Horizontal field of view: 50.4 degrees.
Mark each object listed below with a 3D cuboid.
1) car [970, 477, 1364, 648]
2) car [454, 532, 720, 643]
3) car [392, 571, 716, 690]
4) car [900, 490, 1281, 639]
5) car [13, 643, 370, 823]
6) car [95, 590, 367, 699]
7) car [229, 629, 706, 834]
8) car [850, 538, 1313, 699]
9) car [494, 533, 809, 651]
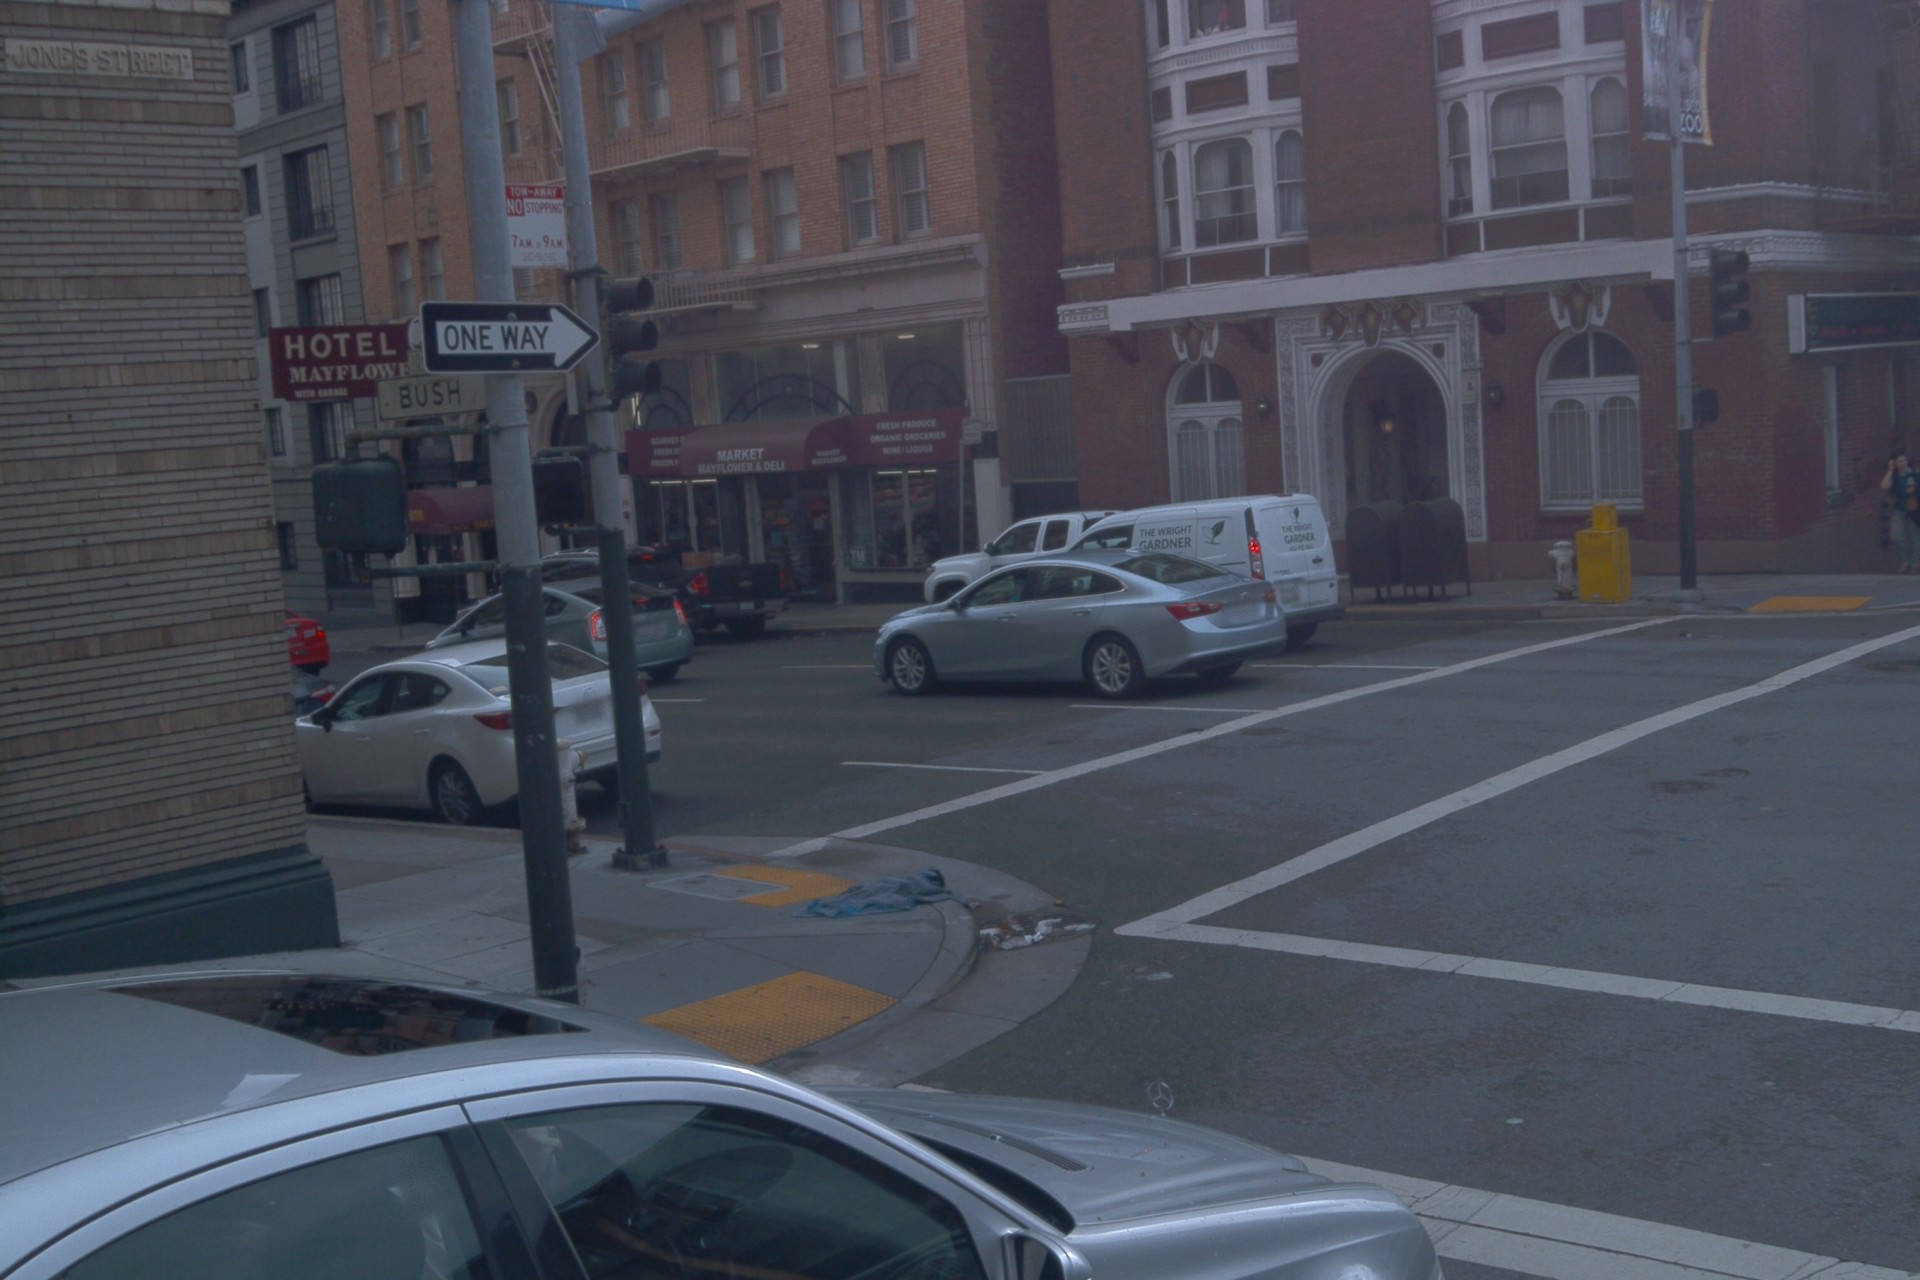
[{"bbox_3d":[2.414,-0.909,24.652,4.461,1.870,1.947,2,1,44],"label":"car"},{"bbox_3d":[-6.143,-0.856,33.247,4.624,1.700,1.865,2,1,43],"label":"car"},{"bbox_3d":[-5.551,-0.174,27.558,4.500,1.470,2.058,2,1,43],"label":"car"},{"bbox_3d":[1.776,-1.057,29.322,5.308,1.950,2.112,2,1,43],"label":"car"},{"bbox_3d":[-8.238,0.893,21.685,4.190,1.610,1.891,2,1,43],"label":"car"},{"bbox_3d":[-12.491,0.024,34.808,4.902,1.680,2.362,2,1,43],"label":"car"},{"bbox_3d":[-4.417,0.698,17.946,4.290,1.490,2.048,2,1,43],"label":"car"},{"bbox_3d":[1.162,-0.260,21.400,4.727,1.500,1.880,2,1,44],"label":"car"},{"bbox_3d":[-5.641,-0.872,36.739,5.917,1.960,2.408,2,1,43],"label":"car"}]
